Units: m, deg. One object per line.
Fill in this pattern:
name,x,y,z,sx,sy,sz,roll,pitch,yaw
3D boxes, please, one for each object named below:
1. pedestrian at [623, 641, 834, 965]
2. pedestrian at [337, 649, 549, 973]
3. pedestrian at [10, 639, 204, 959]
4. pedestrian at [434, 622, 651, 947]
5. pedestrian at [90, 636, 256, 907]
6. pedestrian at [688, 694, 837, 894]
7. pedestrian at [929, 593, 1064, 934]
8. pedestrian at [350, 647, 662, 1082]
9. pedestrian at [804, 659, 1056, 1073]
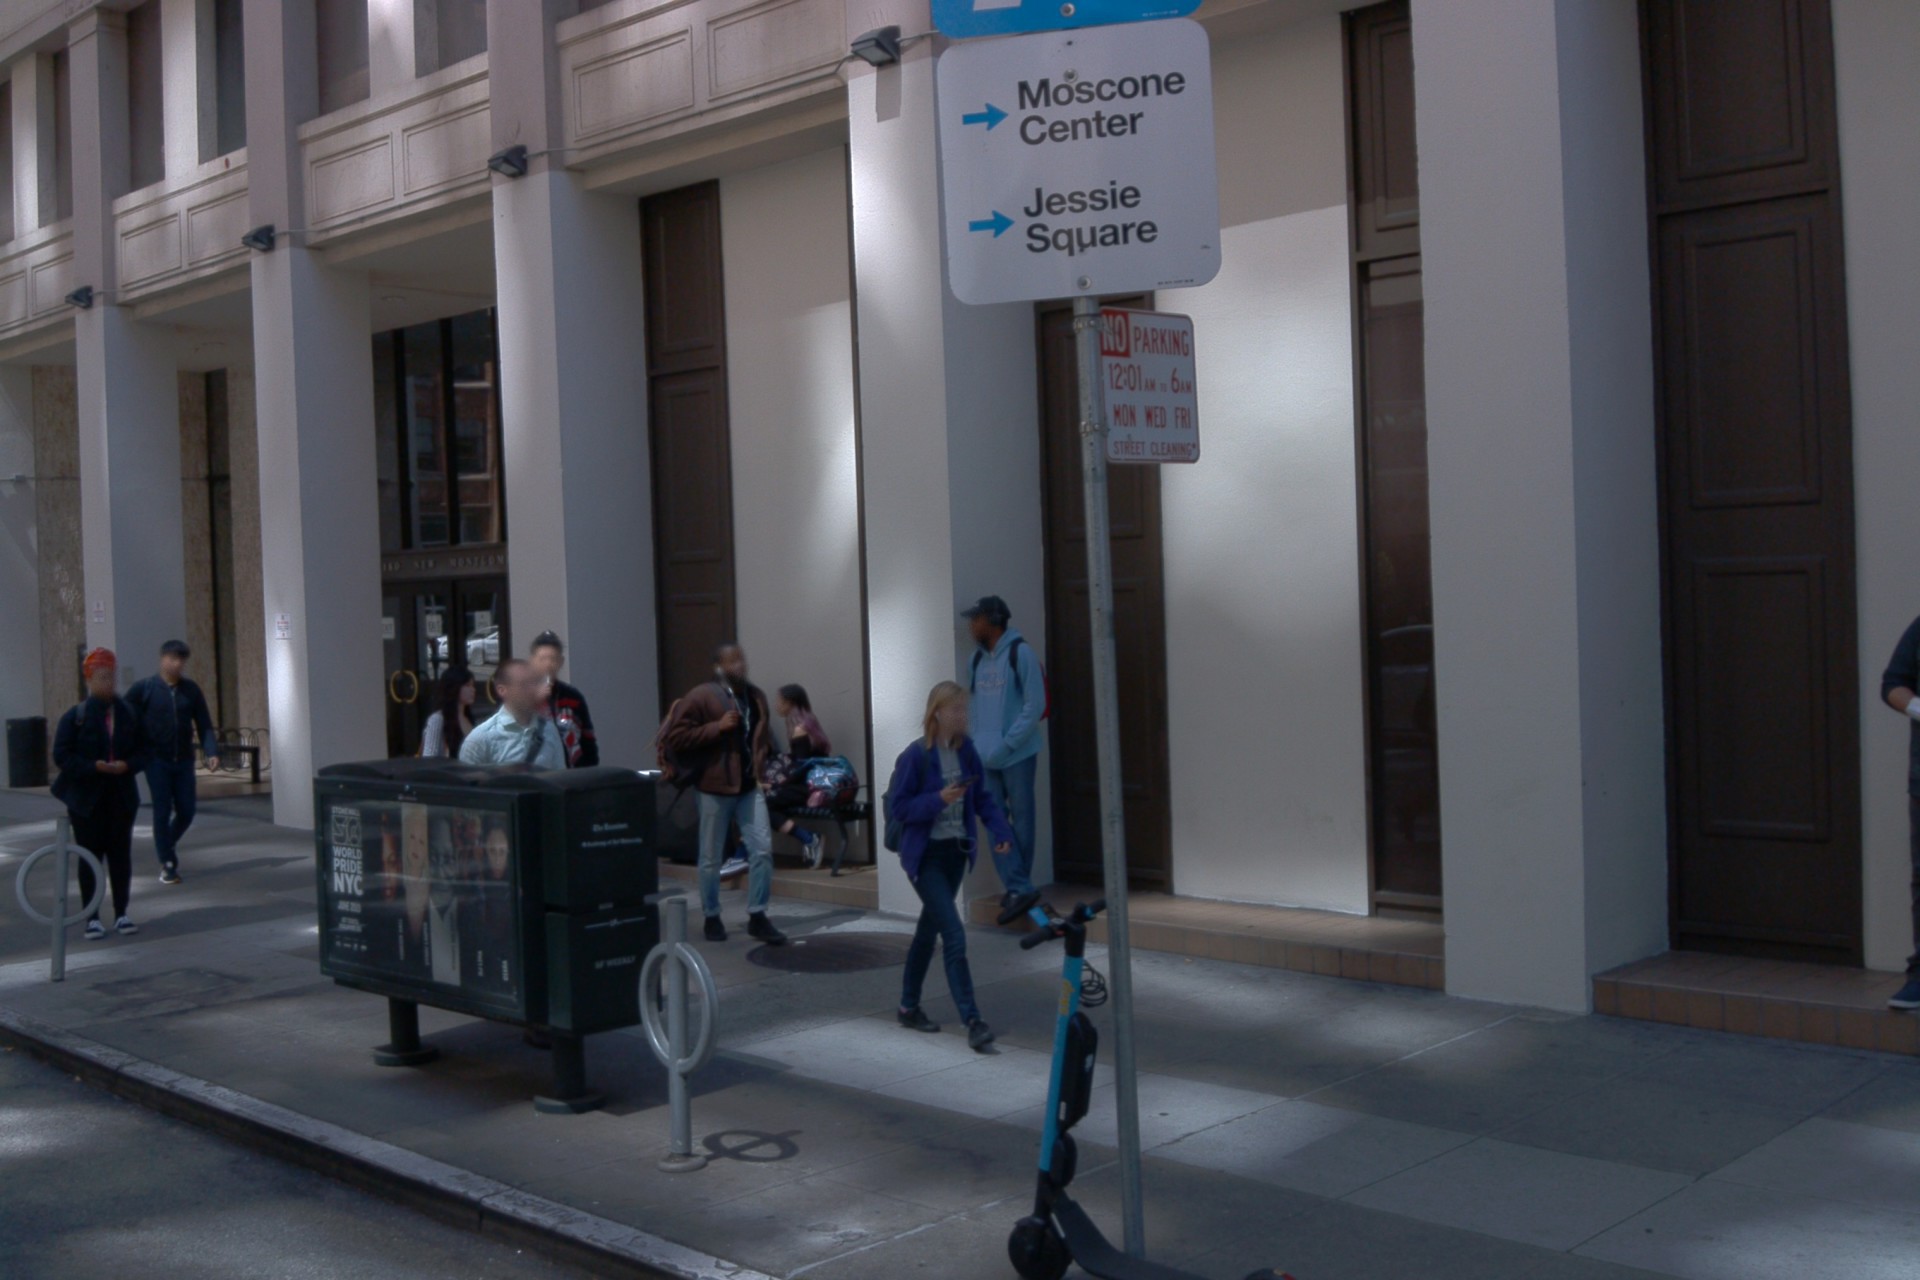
pedestrian,-1.330,0.883,11.738,0.858,1.736,0.947,0,0,-33
pedestrian,-3.057,0.962,12.154,0.997,1.806,0.777,0,0,41
pedestrian,-5.330,0.943,12.835,0.862,1.886,0.948,0,0,-40
pedestrian,-2.589,0.841,12.752,0.889,1.906,1.037,0,0,-45
pedestrian,-5.791,0.917,15.109,0.893,1.886,1.192,0,0,-34
pedestrian,-1.296,1.004,13.641,0.959,1.270,0.642,0,0,-3
pedestrian,0.211,0.688,11.857,0.541,1.903,0.550,0,0,44
pedestrian,-2.117,0.966,9.558,1.192,1.846,0.893,0,0,43
pedestrian,-0.142,0.965,9.305,0.735,1.736,0.899,0,0,-40
